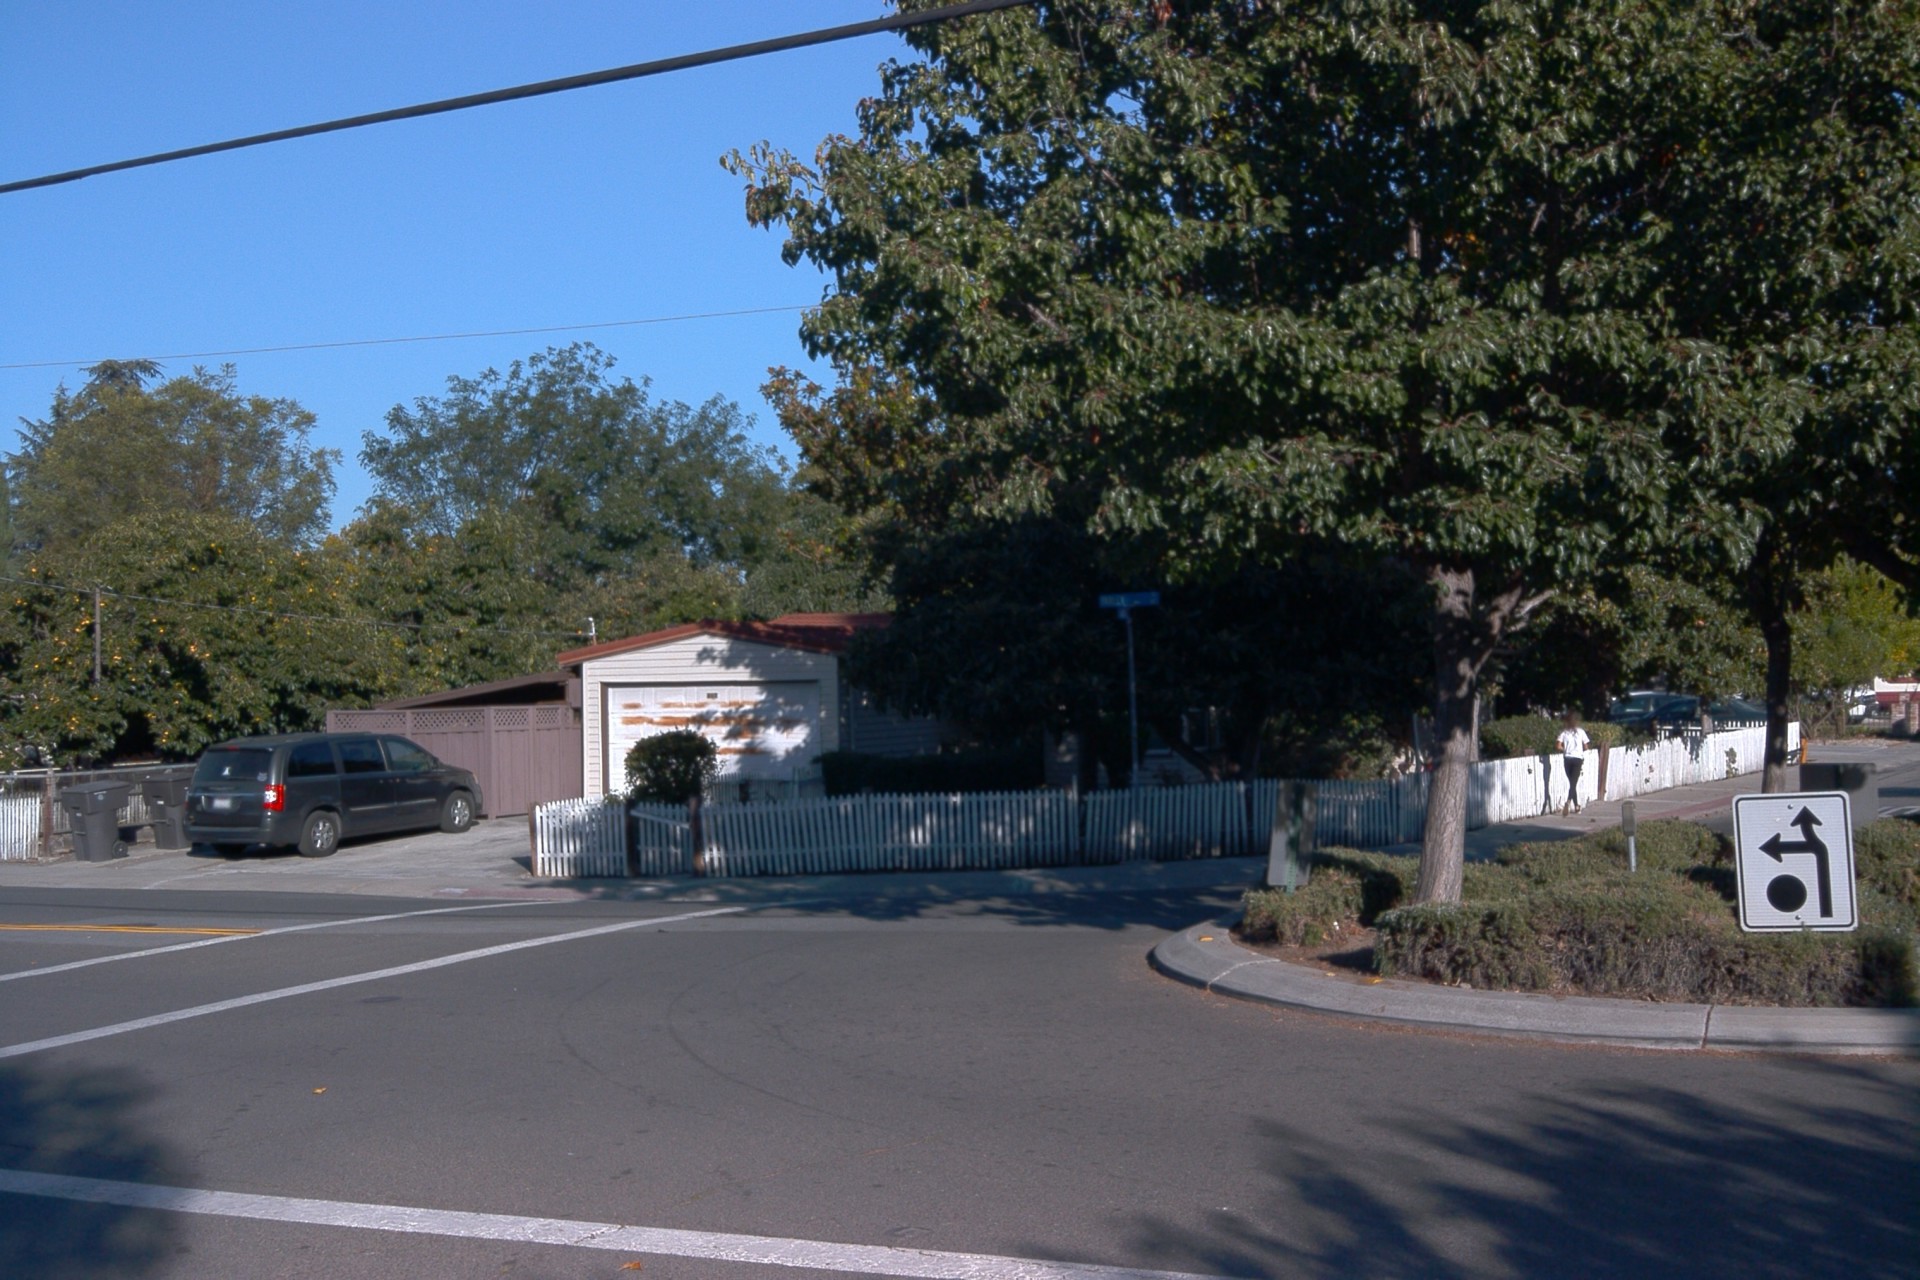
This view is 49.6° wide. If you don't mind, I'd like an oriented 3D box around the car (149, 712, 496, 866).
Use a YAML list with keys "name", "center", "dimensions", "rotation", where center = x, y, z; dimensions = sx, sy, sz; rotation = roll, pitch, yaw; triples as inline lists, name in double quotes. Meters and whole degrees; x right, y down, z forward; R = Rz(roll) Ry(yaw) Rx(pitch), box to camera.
- name: "car"
  center: [-9.428, 2.135, 31.231]
  dimensions: [2.140, 1.930, 4.988]
  rotation: [1, 0, 25]

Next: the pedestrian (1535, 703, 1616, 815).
- name: "pedestrian"
  center: [9.155, 1.750, 30.873]
  dimensions: [0.836, 1.580, 1.184]
  rotation: [1, 0, 32]
